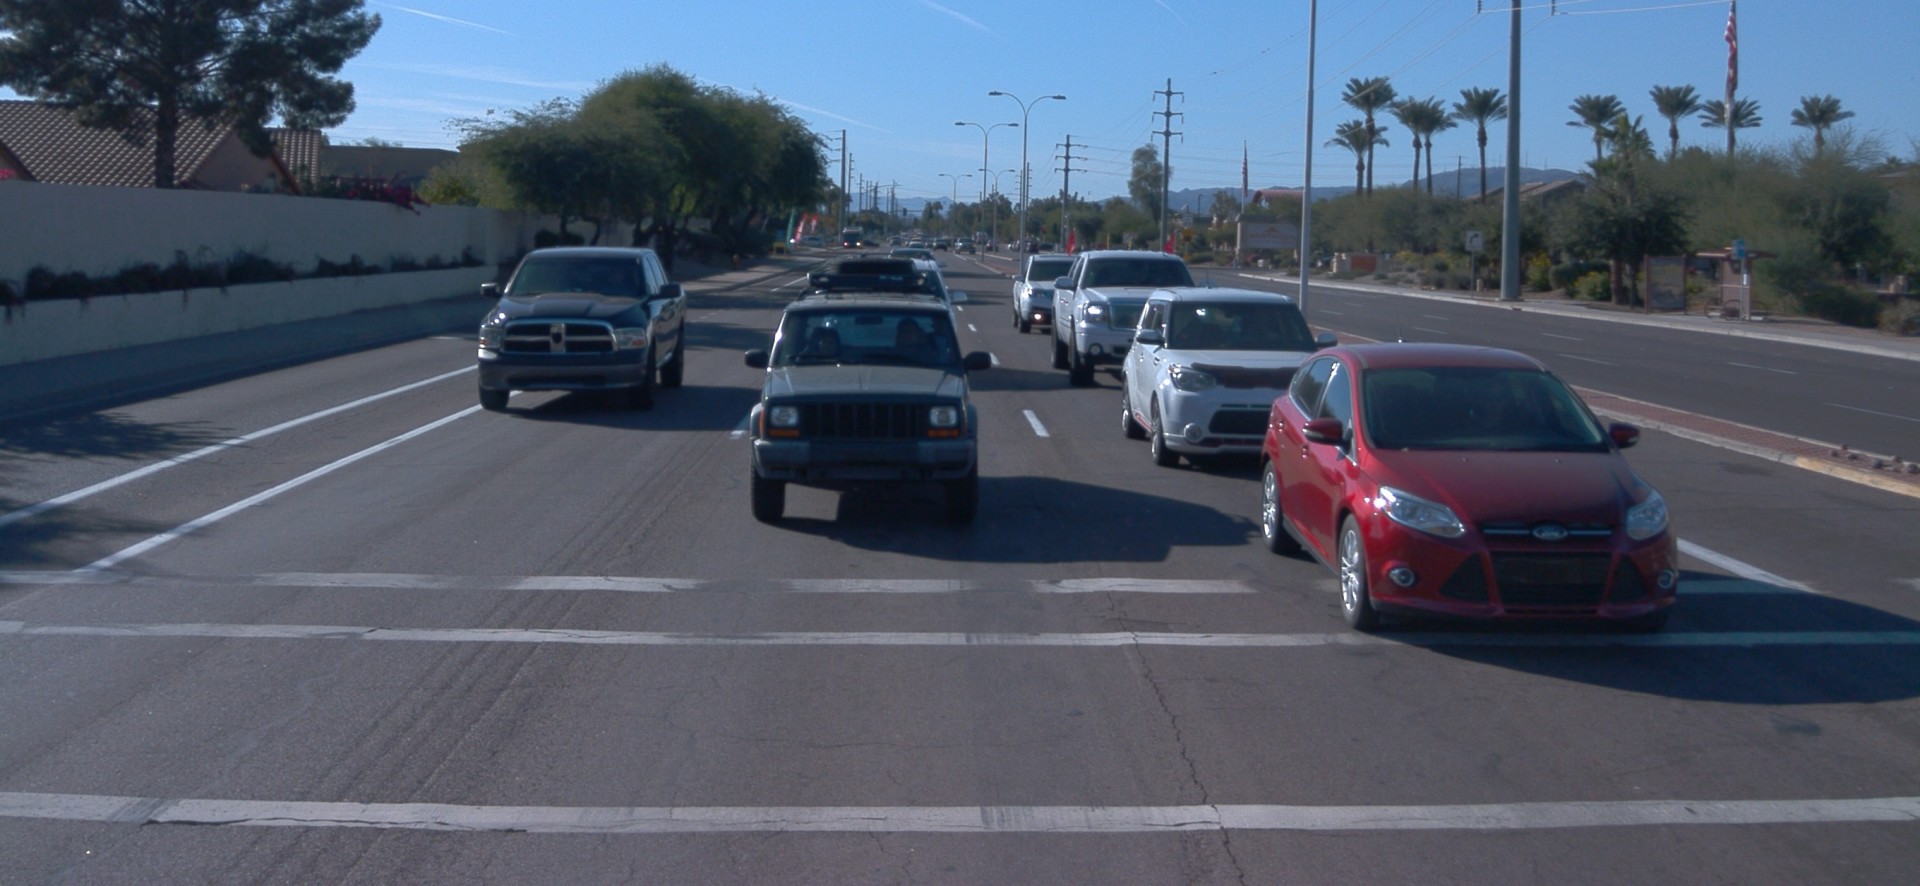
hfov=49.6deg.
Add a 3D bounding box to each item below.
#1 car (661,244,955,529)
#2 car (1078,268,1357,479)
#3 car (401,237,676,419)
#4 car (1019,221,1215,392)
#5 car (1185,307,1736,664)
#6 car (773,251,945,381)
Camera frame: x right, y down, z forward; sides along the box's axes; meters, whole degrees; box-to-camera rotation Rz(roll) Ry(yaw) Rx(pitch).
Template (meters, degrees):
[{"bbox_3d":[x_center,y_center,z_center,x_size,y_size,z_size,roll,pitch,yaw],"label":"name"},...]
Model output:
[{"bbox_3d":[-1.093,-0.600,16.723,2.030,1.943,4.372,1,5,-1],"label":"car"},{"bbox_3d":[2.388,-0.794,20.426,2.045,1.753,4.394,1,5,-2],"label":"car"},{"bbox_3d":[-5.115,-1.576,26.204,2.401,1.982,5.894,1,5,-2],"label":"car"},{"bbox_3d":[2.231,-2.163,31.326,2.399,2.301,5.769,1,5,-1],"label":"car"},{"bbox_3d":[2.728,0.075,12.506,2.117,1.594,4.377,1,5,-2],"label":"car"},{"bbox_3d":[-1.444,-2.005,31.554,2.381,1.753,4.985,1,5,-1],"label":"car"}]
